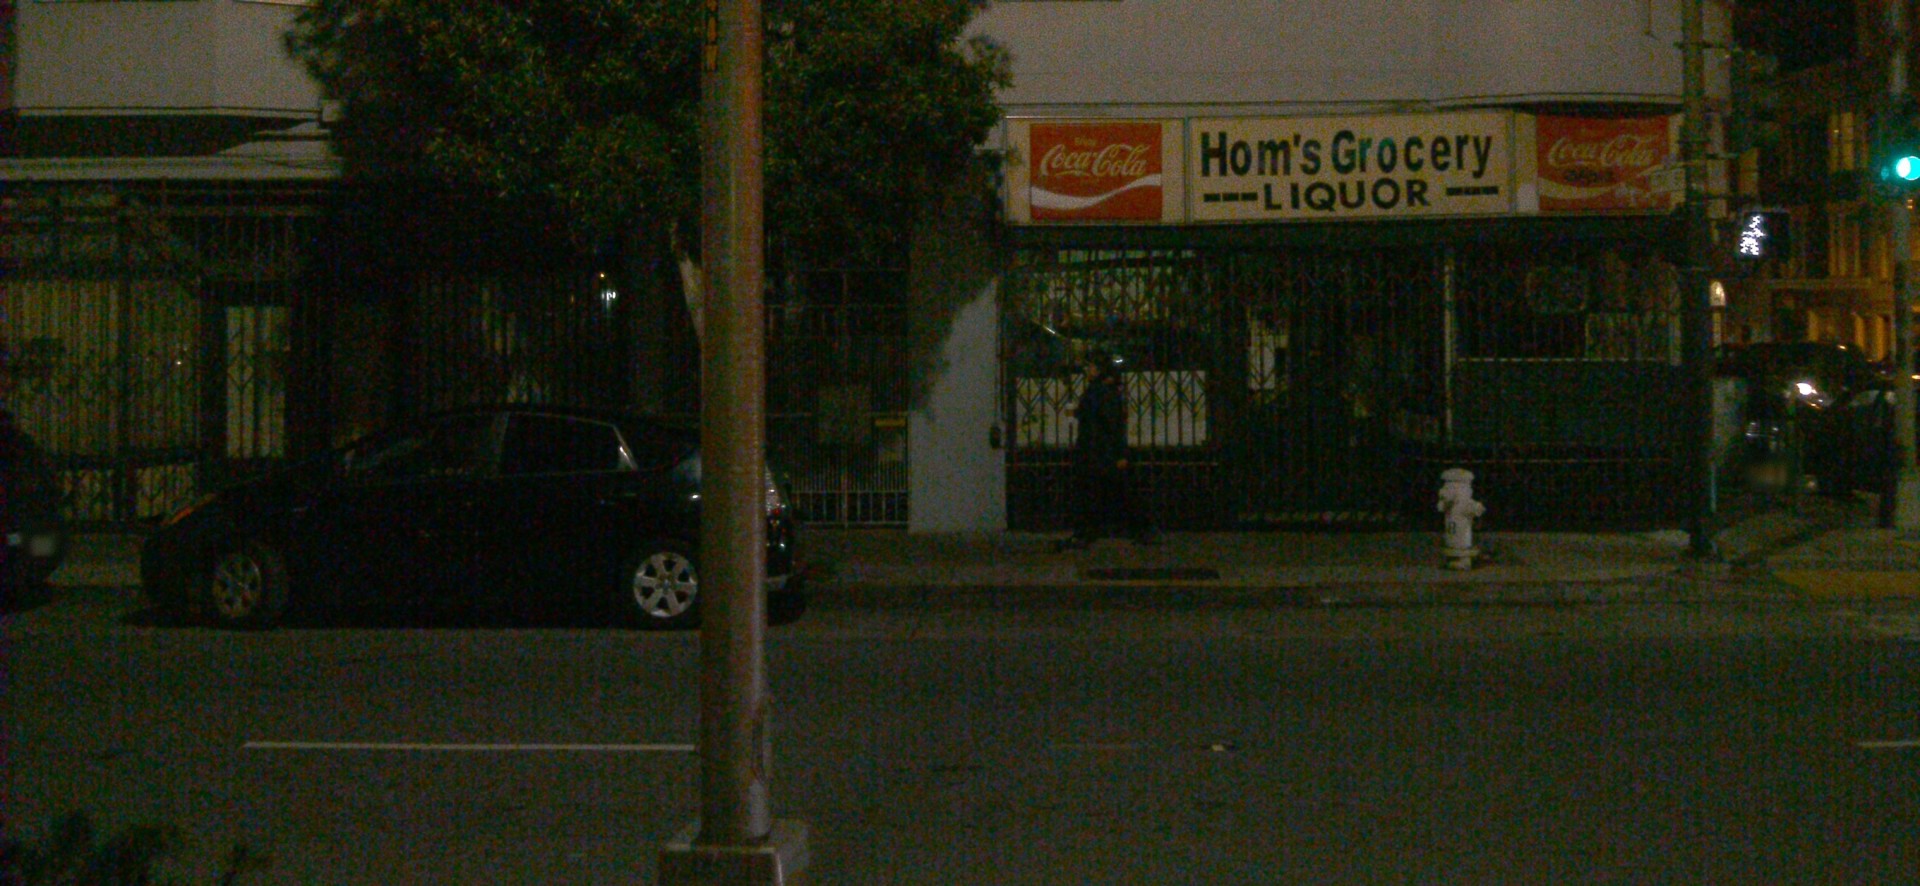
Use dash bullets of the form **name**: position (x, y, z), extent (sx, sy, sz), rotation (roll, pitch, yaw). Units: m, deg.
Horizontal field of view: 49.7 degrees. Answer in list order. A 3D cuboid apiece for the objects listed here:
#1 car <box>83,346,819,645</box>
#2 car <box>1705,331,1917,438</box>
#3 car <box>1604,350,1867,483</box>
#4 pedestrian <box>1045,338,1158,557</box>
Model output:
- **car**: position (-3.300, 0.290, 14.165), extent (4.570, 1.776, 1.947), rotation (0, 4, -2)
- **car**: position (14.759, -1.082, 36.222), extent (1.997, 1.473, 4.576), rotation (0, 6, 2)
- **car**: position (10.409, -0.438, 28.200), extent (1.990, 1.353, 4.636), rotation (0, 6, 2)
- **pedestrian**: position (1.144, 0.015, 16.908), extent (0.820, 1.688, 0.880), rotation (0, 2, -3)
